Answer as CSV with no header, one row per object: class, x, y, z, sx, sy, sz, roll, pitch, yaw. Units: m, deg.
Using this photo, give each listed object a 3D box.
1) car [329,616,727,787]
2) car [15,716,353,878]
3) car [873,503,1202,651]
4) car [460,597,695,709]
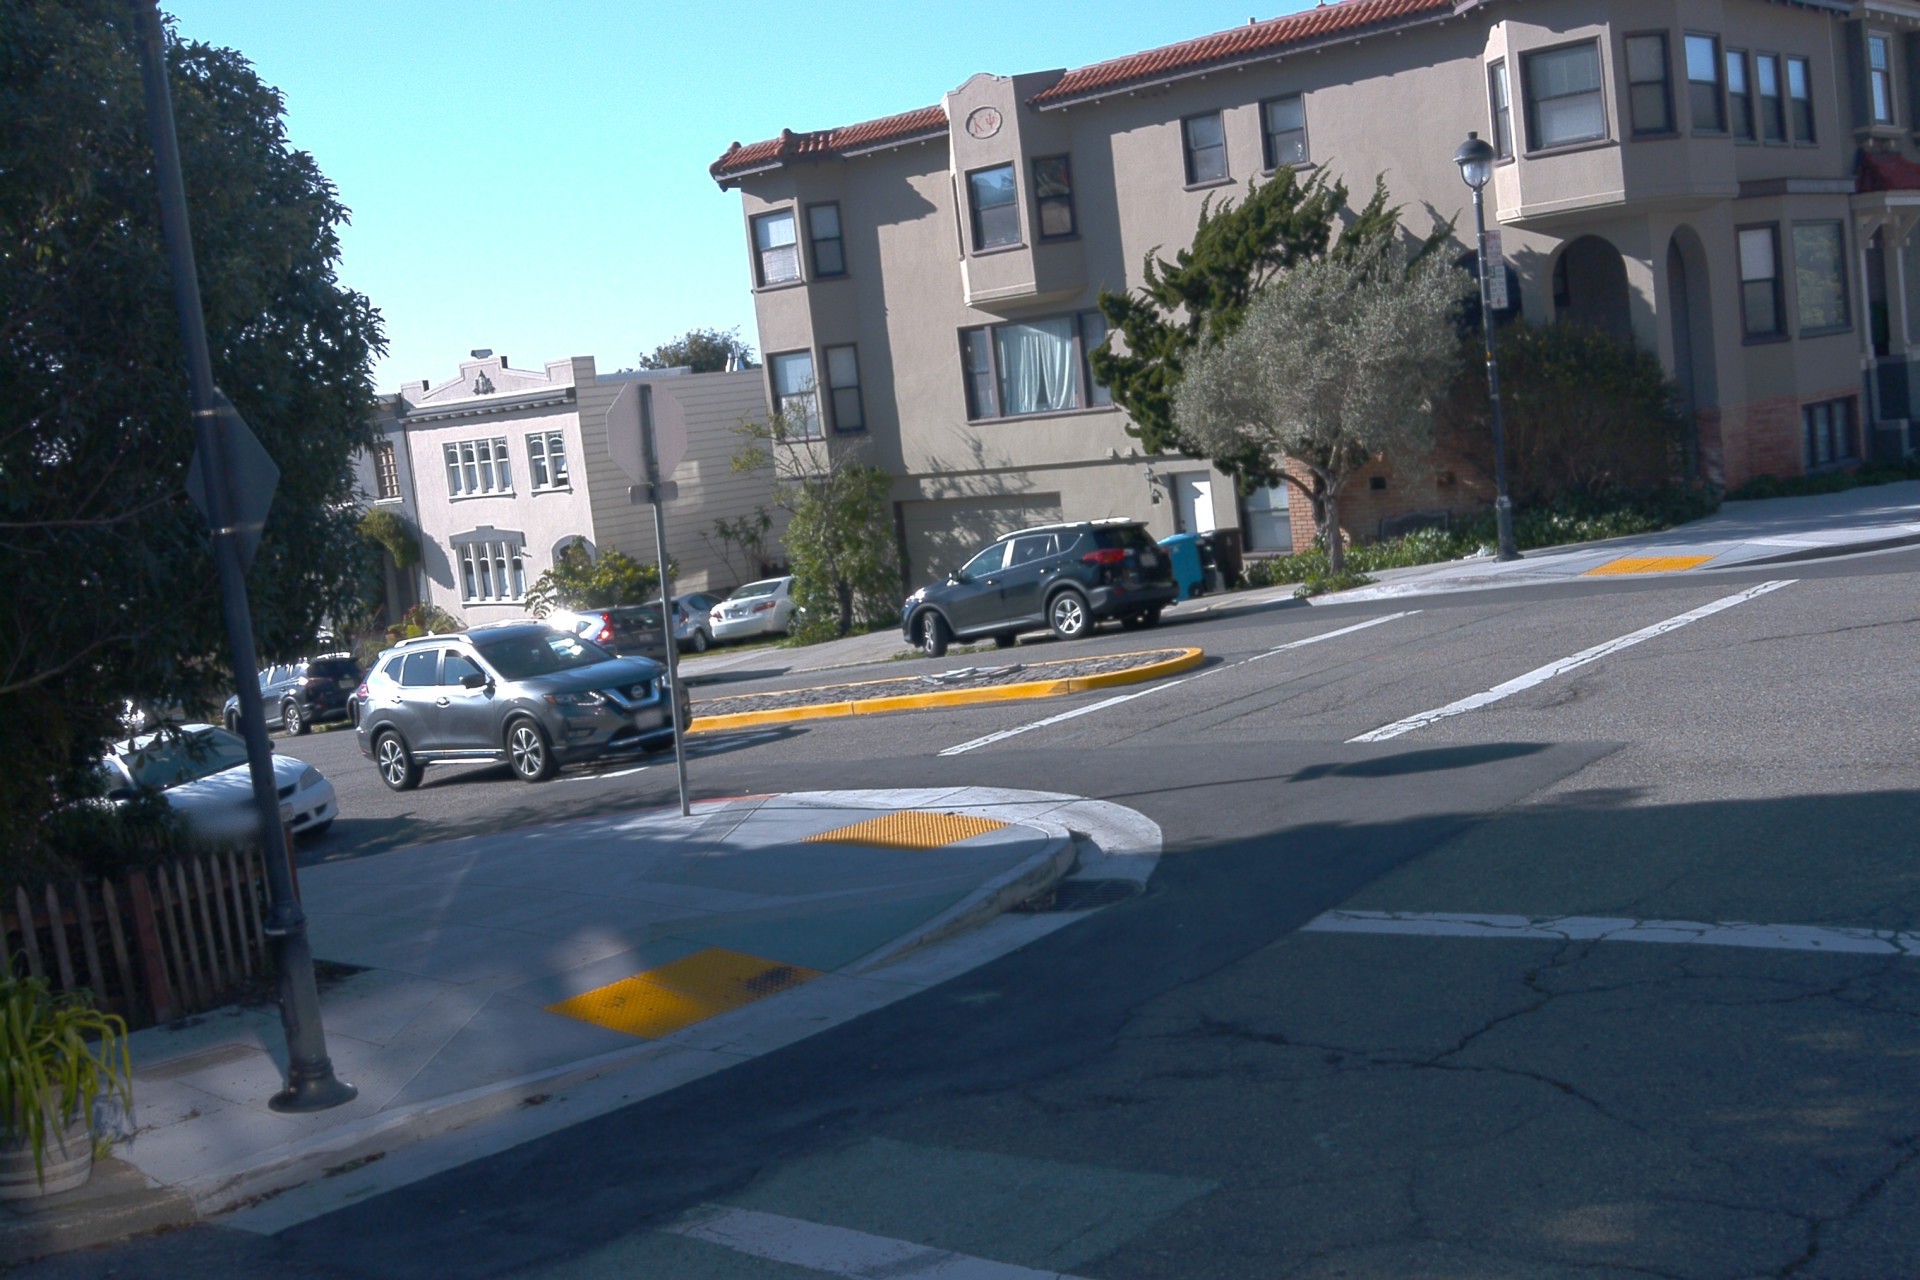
car,-4.947,0.621,23.345,4.680,1.740,2.086,0,0,44
car,-8.140,1.550,21.567,1.869,1.360,3.981,0,0,-44
car,1.085,-0.862,30.700,4.526,2.020,2.204,0,0,44
car,-7.101,0.225,38.264,4.304,1.950,2.023,0,0,41
